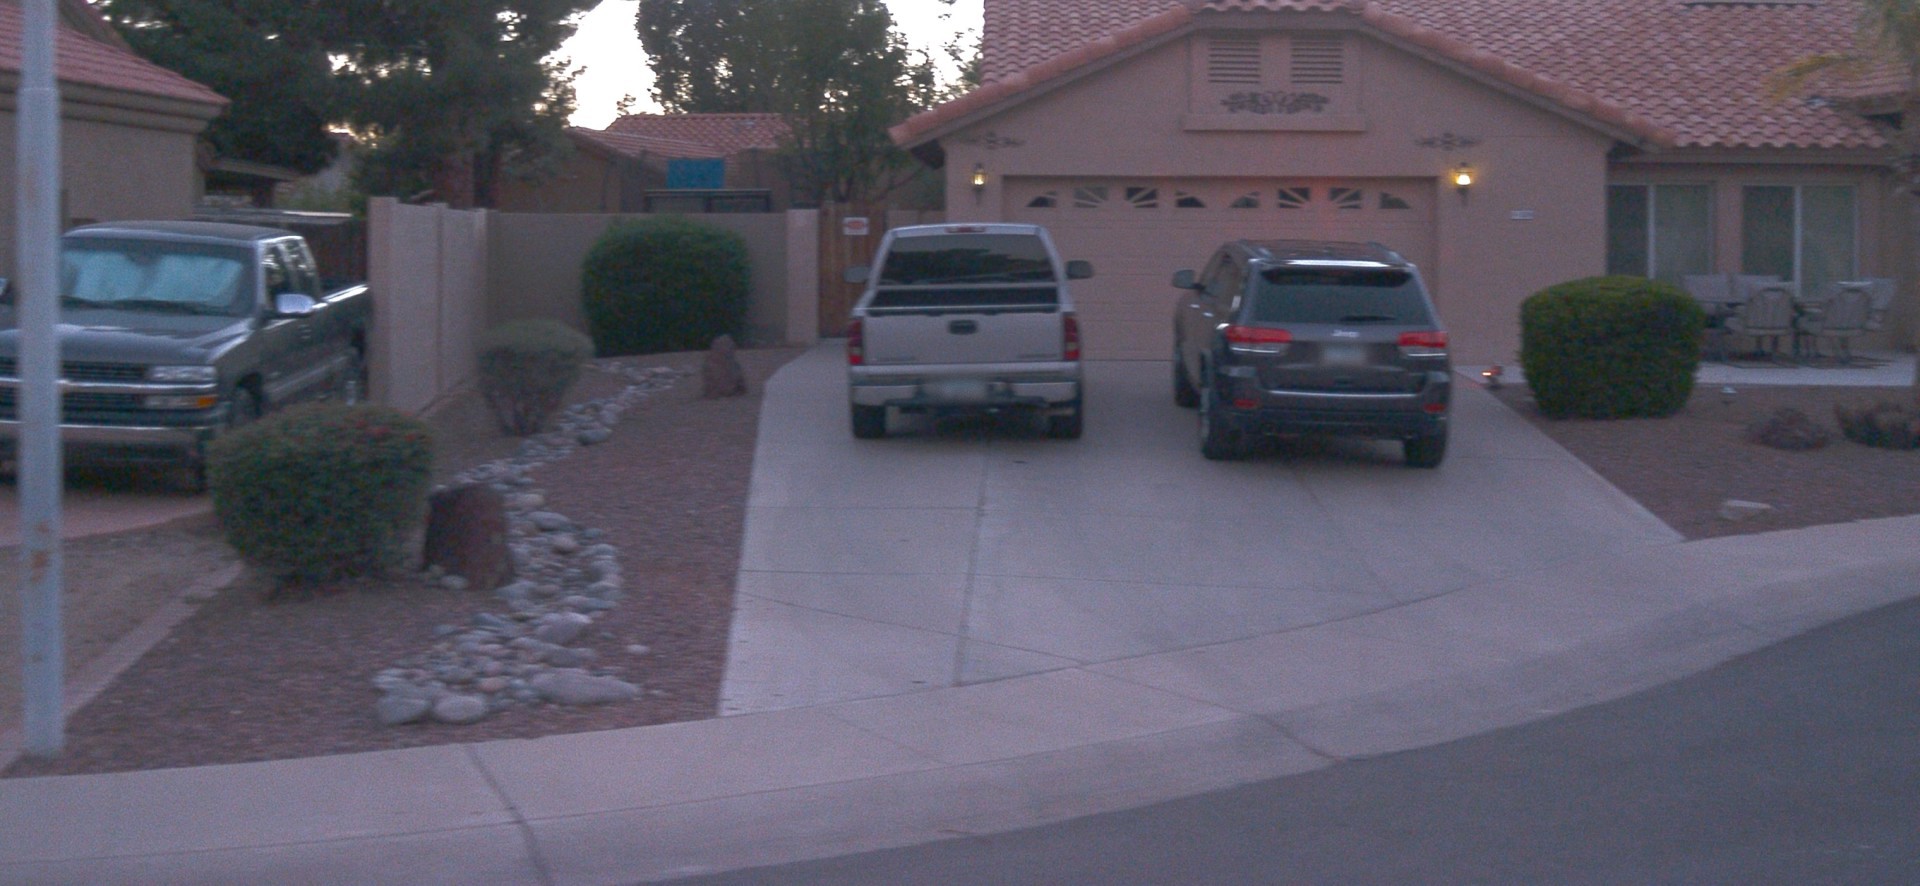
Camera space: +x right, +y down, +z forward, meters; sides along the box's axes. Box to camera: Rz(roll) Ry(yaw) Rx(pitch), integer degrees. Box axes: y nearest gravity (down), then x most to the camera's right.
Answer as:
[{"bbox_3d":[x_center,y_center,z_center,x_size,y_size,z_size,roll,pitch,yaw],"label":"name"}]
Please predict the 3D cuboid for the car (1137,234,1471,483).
[{"bbox_3d":[2.834,-0.886,18.257,2.167,1.851,4.839,0,5,0],"label":"car"}]

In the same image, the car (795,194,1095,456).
[{"bbox_3d":[-0.087,-1.228,19.243,2.400,2.091,5.220,0,5,1],"label":"car"}]
